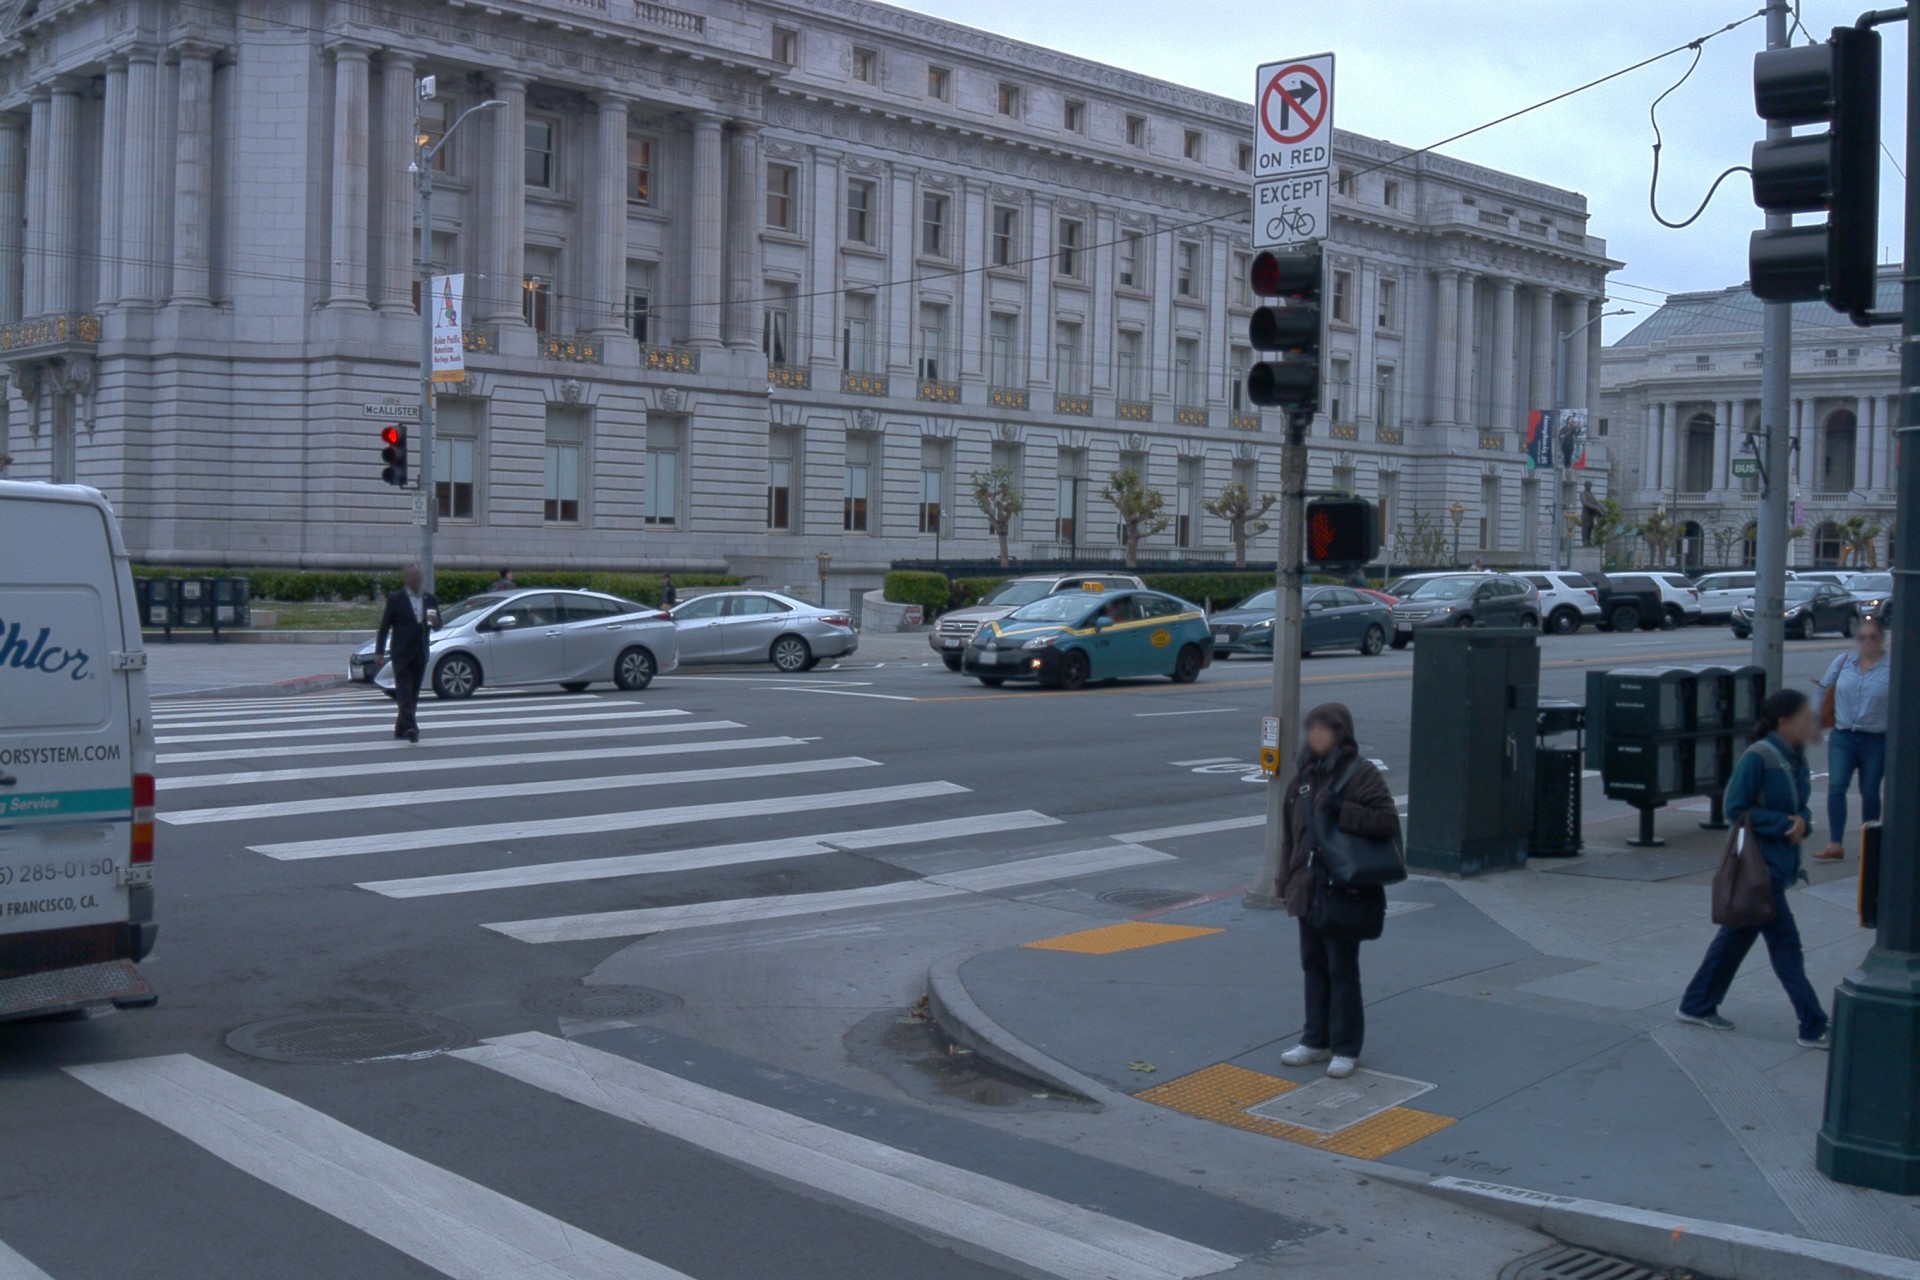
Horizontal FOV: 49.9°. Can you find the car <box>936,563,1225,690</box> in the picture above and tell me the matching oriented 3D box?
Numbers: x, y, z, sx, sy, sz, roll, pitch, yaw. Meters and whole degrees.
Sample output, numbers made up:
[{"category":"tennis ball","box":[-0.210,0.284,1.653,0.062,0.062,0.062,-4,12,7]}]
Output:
[{"category":"car","box":[1.883,-0.210,31.319,2.040,1.787,4.328,1,1,44]}]

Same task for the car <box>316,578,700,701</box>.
[{"category":"car","box":[-6.117,-0.026,28.252,4.666,1.540,2.143,-1,1,-41]}]

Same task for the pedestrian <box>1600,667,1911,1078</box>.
[{"category":"pedestrian","box":[3.567,0.981,9.289,0.861,1.690,1.005,-1,1,-39]}]

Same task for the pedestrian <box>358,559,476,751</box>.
[{"category":"pedestrian","box":[-5.389,0.140,20.482,0.806,1.850,0.957,-1,1,-39]}]

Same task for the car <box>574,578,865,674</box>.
[{"category":"car","box":[-4.240,-0.255,36.950,4.904,1.667,2.106,0,1,4]}]

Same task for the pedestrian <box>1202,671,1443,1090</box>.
[{"category":"pedestrian","box":[1.589,1.005,9.066,0.805,1.710,0.666,1,1,43]}]

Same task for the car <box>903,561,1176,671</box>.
[{"category":"car","box":[1.466,-0.416,36.375,2.180,1.800,4.766,1,1,44]}]
